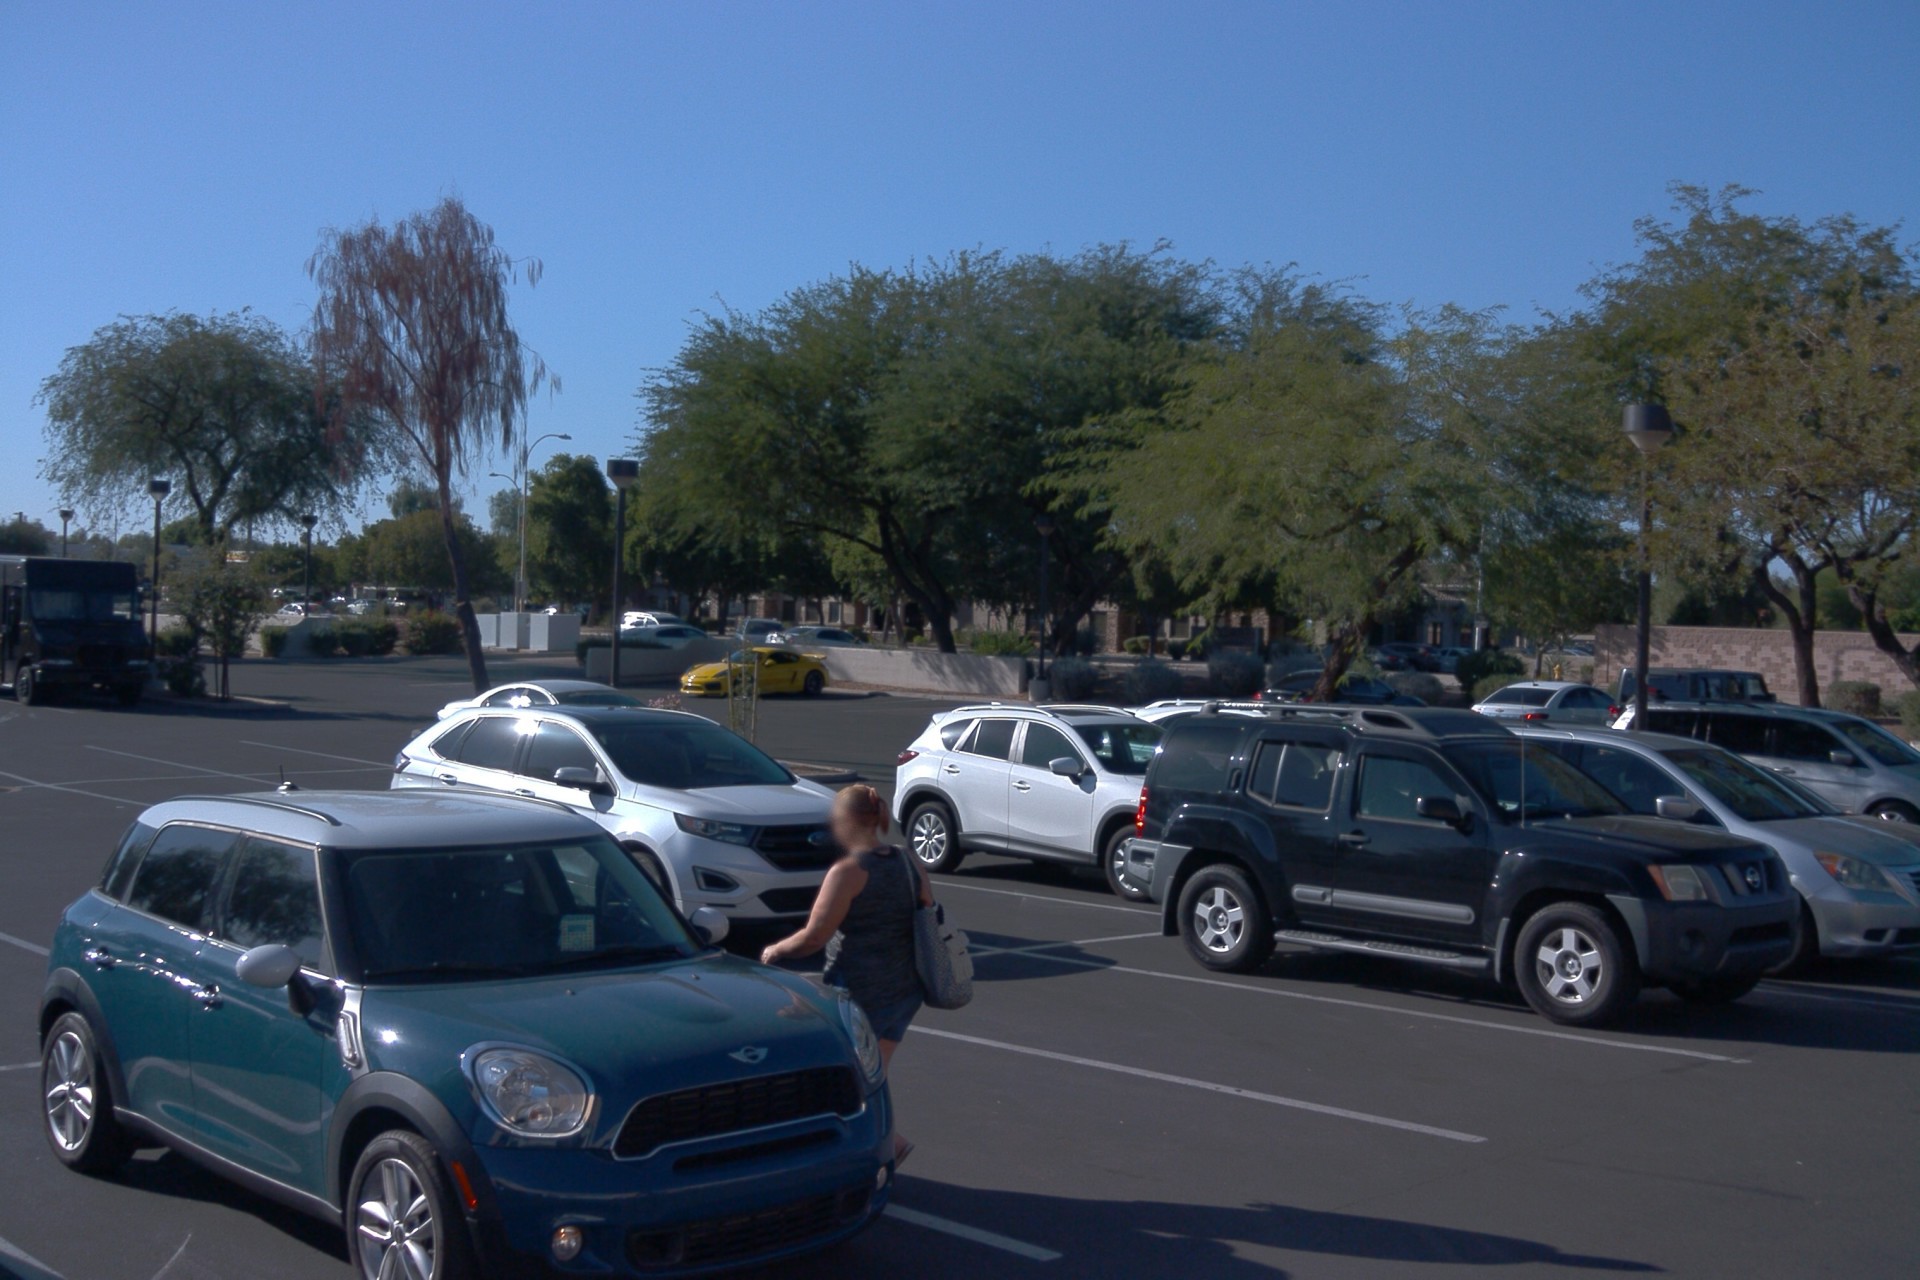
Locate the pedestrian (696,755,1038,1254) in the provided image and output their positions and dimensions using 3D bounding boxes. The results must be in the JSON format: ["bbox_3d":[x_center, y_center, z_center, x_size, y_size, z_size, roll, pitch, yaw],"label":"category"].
[{"bbox_3d":[-0.363,1.369,8.247,0.958,1.750,0.930,1,0,38],"label":"pedestrian"}]

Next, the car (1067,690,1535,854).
[{"bbox_3d":[3.588,1.335,22.468,2.057,1.460,4.663,1,0,-45],"label":"car"}]

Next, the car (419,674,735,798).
[{"bbox_3d":[-5.800,1.363,31.033,5.046,1.600,2.114,1,0,45],"label":"car"}]

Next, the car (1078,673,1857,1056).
[{"bbox_3d":[3.252,1.296,14.056,2.178,2.050,4.676,1,0,-43],"label":"car"}]

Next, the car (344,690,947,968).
[{"bbox_3d":[-2.572,1.310,16.205,4.659,1.720,2.253,1,0,44],"label":"car"}]

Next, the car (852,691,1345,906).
[{"bbox_3d":[1.251,1.421,20.152,2.160,1.720,4.434,1,0,-45],"label":"car"}]
